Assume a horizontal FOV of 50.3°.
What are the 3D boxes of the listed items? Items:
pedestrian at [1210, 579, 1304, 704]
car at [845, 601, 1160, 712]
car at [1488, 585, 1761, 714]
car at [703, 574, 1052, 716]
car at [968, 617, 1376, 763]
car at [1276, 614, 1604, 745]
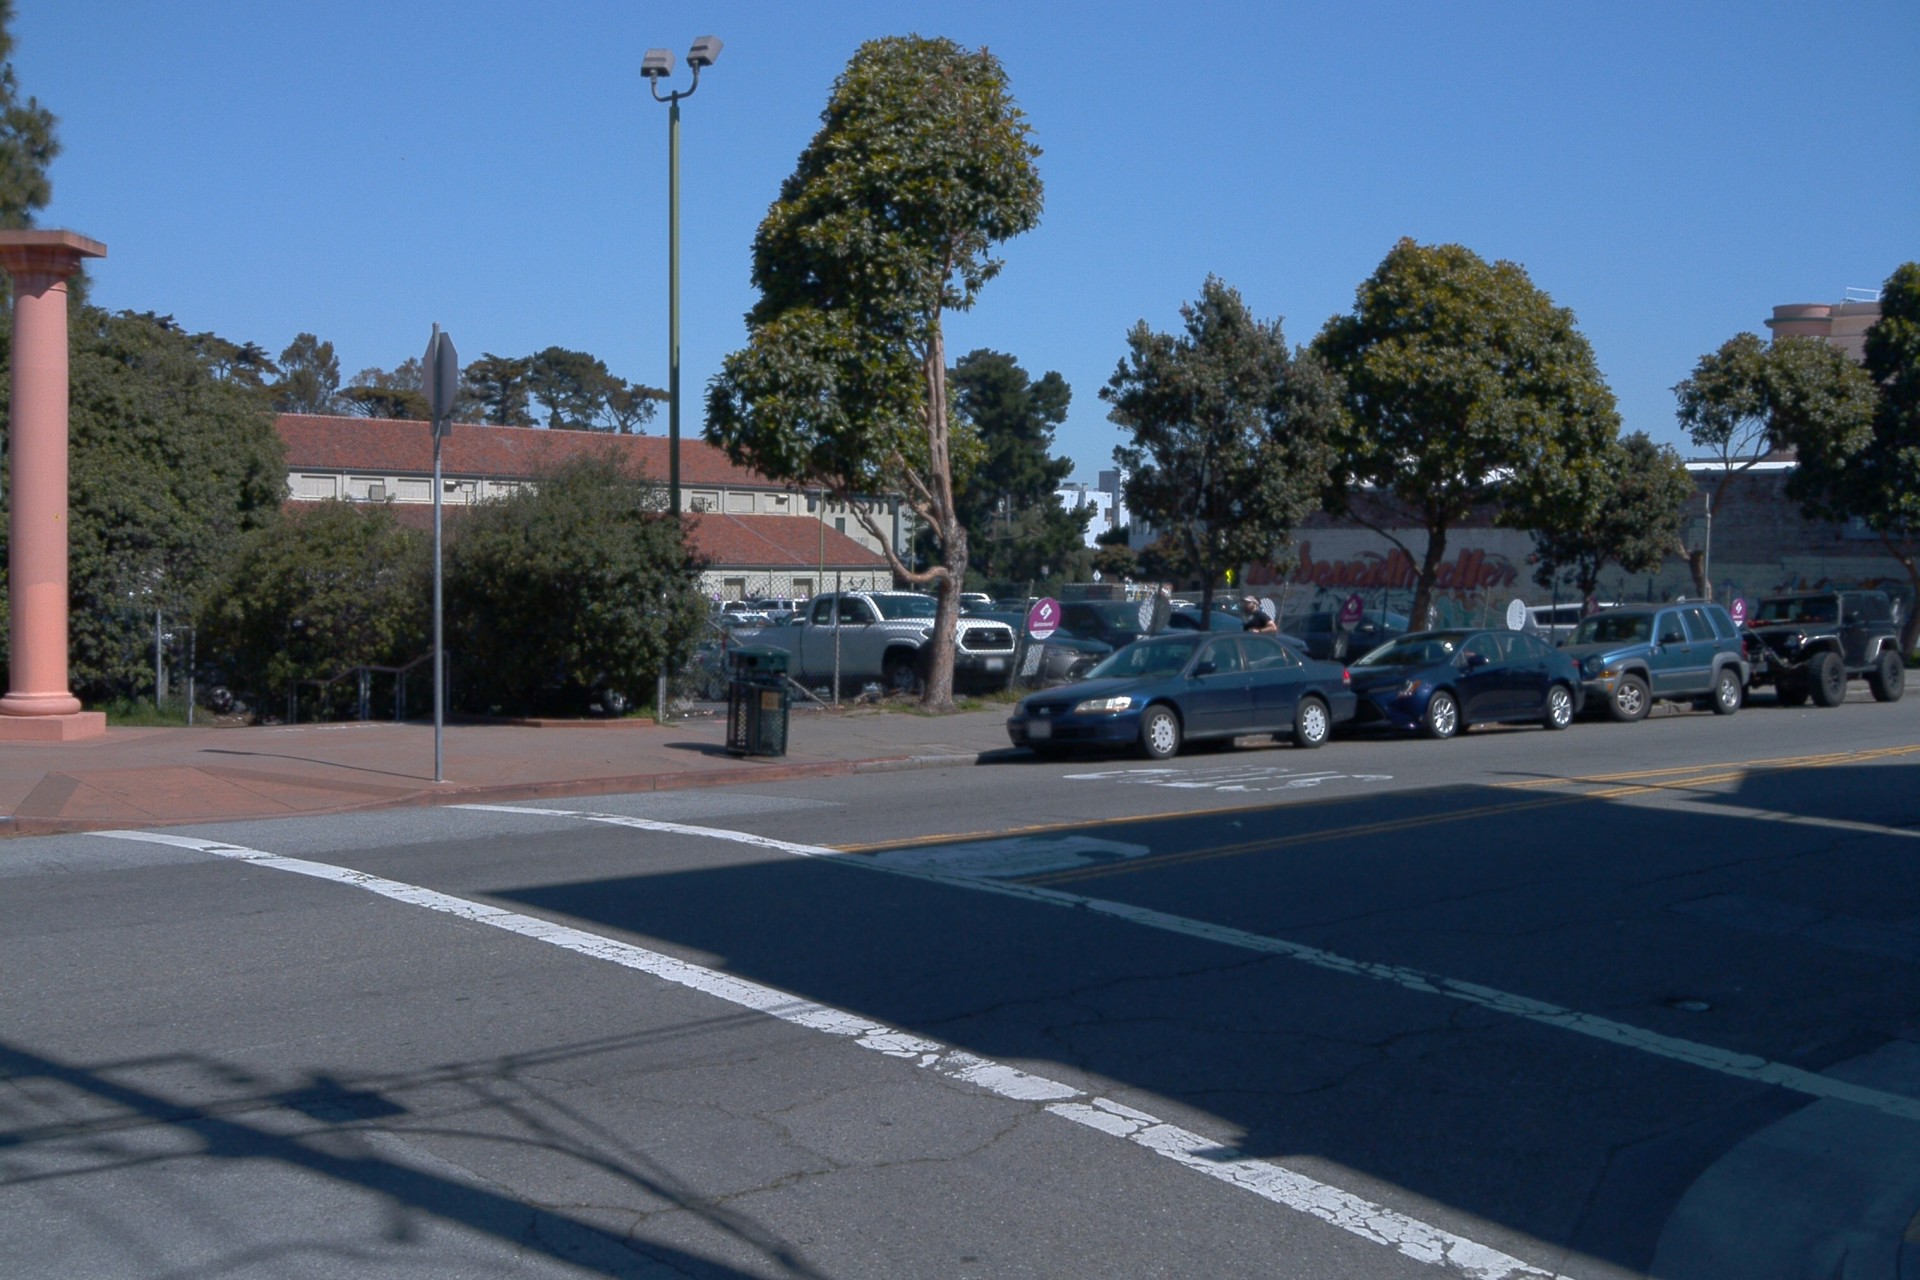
[{"bbox_3d":[4.305,0.018,29.613,1.063,1.770,0.826,0,1,-39],"label":"pedestrian"},{"bbox_3d":[0.604,0.224,32.977,2.171,1.650,5.007,0,0,-44],"label":"car"},{"bbox_3d":[10.156,0.133,31.152,4.224,1.840,2.011,0,0,-40],"label":"car"},{"bbox_3d":[-1.375,0.050,31.189,2.096,1.970,5.675,0,0,-43],"label":"car"},{"bbox_3d":[2.572,0.526,23.945,4.876,1.530,2.008,0,0,-43],"label":"car"},{"bbox_3d":[6.436,0.481,27.185,4.567,1.590,1.947,0,0,-42],"label":"car"}]
